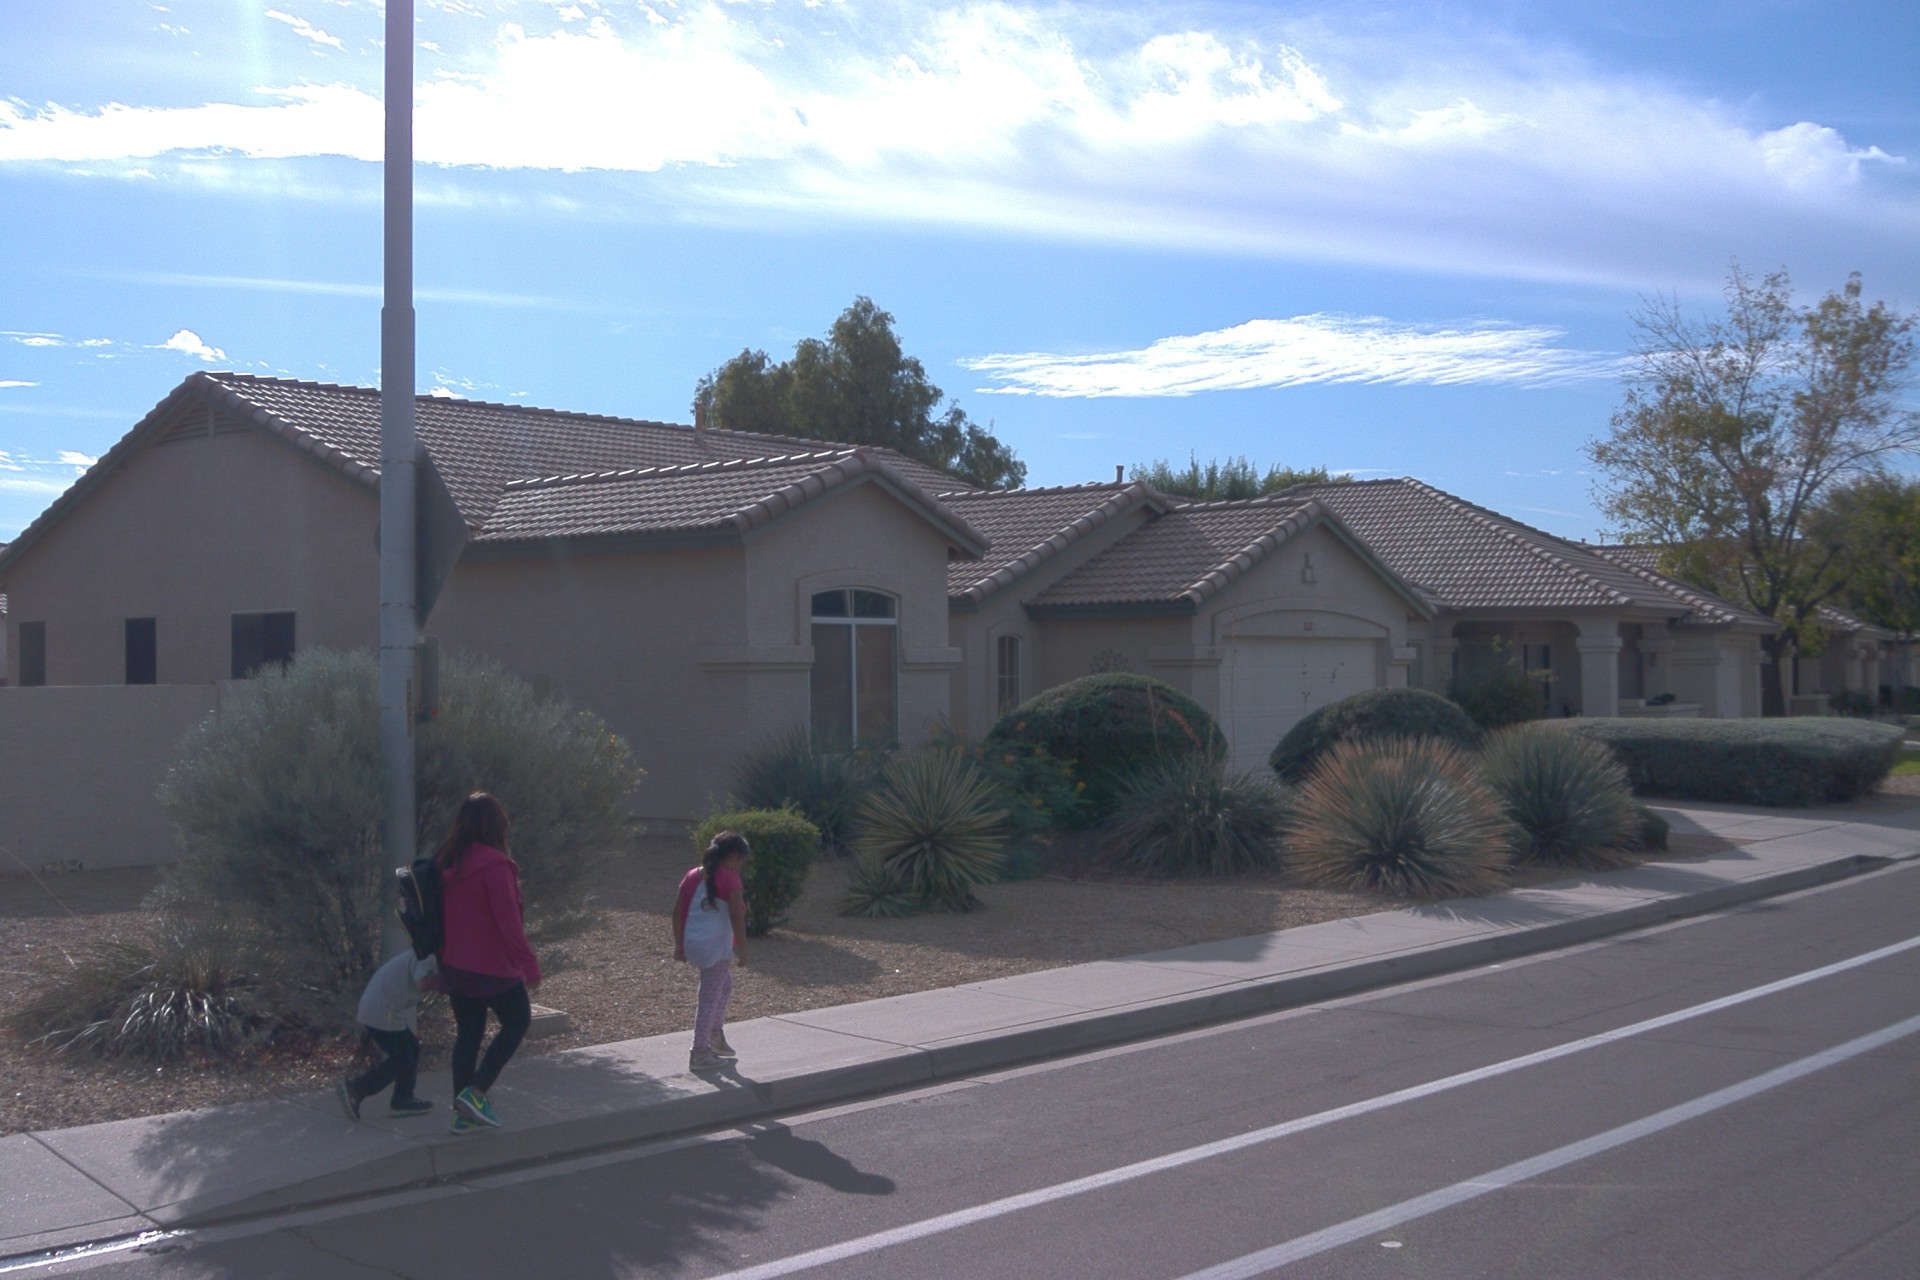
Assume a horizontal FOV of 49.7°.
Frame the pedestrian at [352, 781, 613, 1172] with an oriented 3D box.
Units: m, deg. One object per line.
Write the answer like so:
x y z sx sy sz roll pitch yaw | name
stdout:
-2.150 1.464 9.353 0.780 1.580 0.852 0 0 42 | pedestrian

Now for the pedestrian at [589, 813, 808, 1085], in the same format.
-1.383 1.594 10.958 0.881 1.270 0.759 0 0 -40 | pedestrian

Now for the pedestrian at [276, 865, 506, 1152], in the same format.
-2.650 1.682 9.656 0.796 1.150 0.689 0 0 -44 | pedestrian
